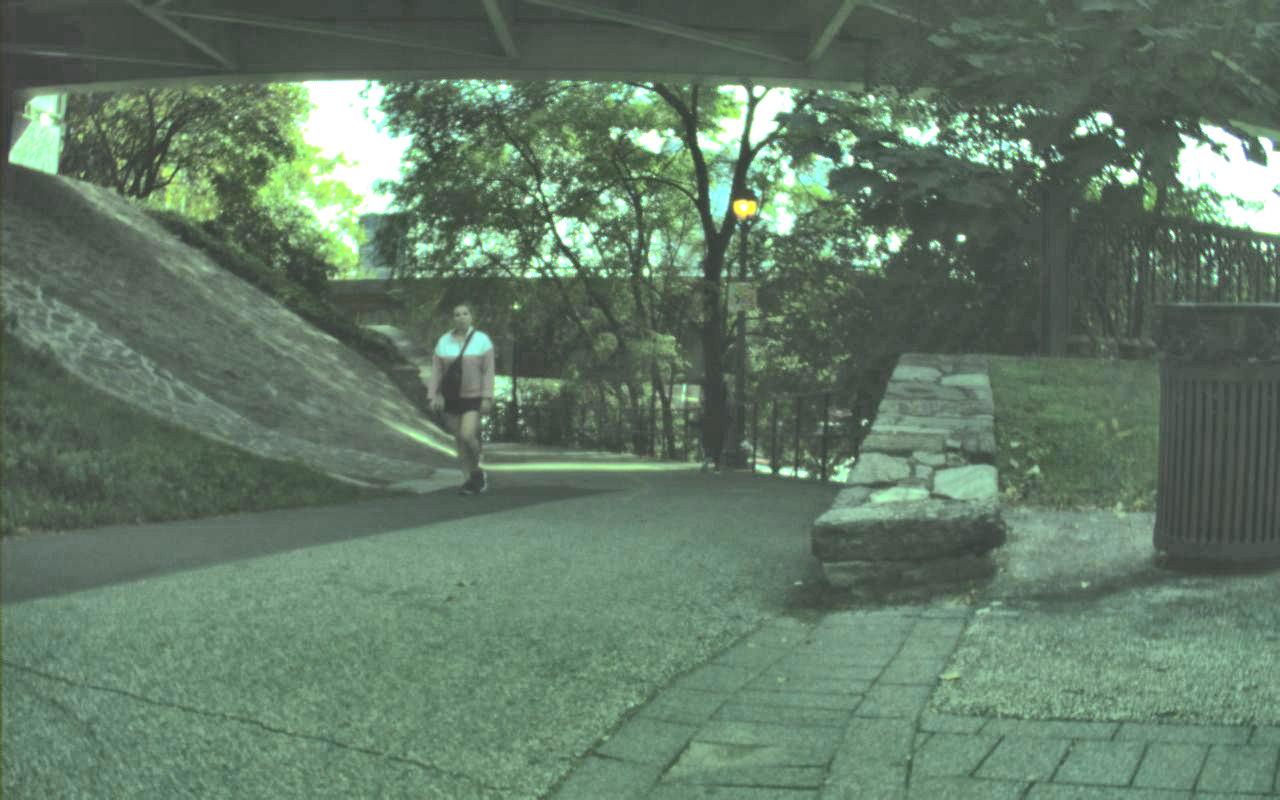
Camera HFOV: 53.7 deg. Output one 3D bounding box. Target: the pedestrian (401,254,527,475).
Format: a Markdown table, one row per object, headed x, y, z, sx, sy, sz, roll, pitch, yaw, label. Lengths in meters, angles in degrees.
| x | y | z | sx | sy | sz | roll | pitch | yaw | label |
| --- | --- | --- | --- | --- | --- | --- | --- | --- | --- |
| -1.448 | -0.292 | 10.361 | 0.792 | 1.734 | 0.819 | 0 | 0 | 14 | pedestrian |

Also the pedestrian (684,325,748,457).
| x | y | z | sx | sy | sz | roll | pitch | yaw | label |
| --- | --- | --- | --- | --- | --- | --- | --- | --- | --- |
| 1.027 | -0.127 | 17.270 | 0.815 | 1.746 | 0.857 | 0 | 0 | -1 | pedestrian |
